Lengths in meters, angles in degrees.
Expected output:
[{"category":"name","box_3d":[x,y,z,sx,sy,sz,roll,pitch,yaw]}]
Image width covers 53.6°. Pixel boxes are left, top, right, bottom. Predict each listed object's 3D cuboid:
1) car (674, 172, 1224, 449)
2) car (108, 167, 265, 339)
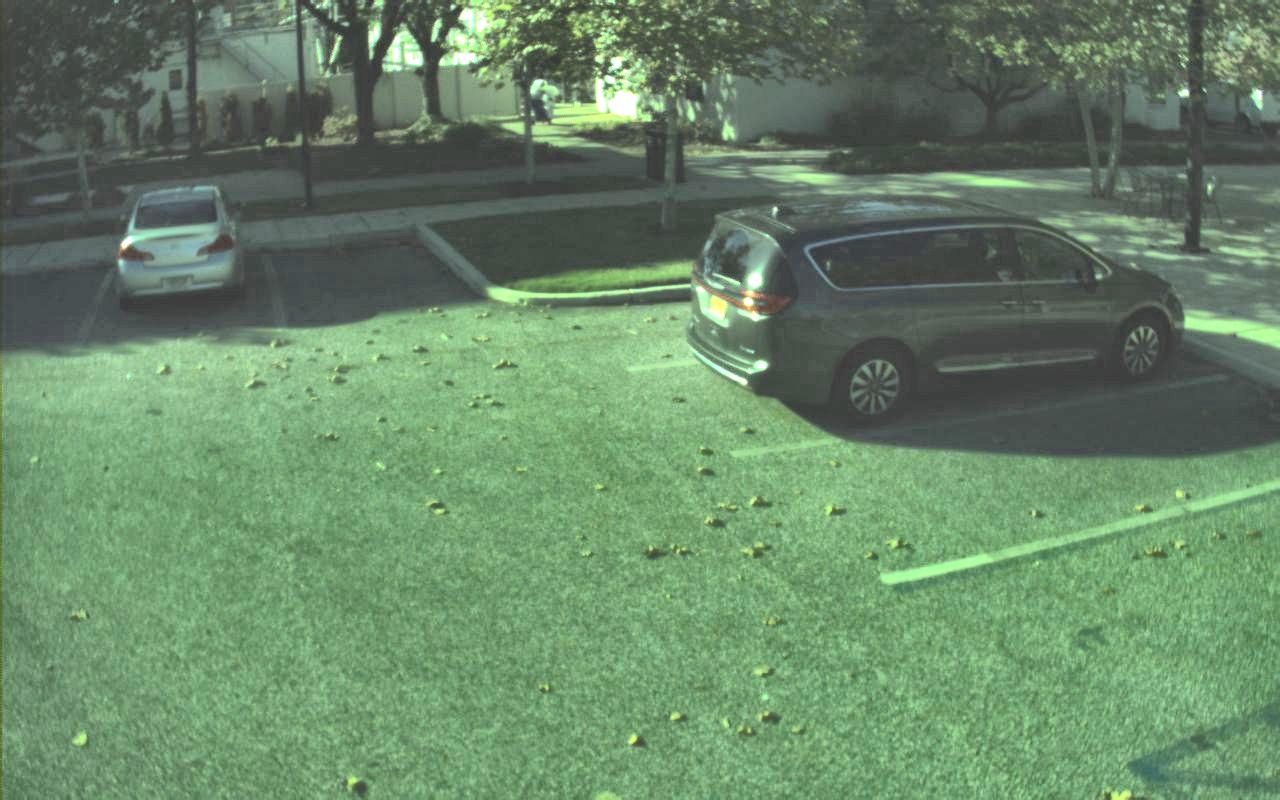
[{"category":"car","box_3d":[2.995,-1.037,11.429,4.965,1.807,2.070,-7,17,-18]},{"category":"car","box_3d":[-6.328,-2.174,16.625,1.917,1.563,4.392,-7,18,-18]}]
